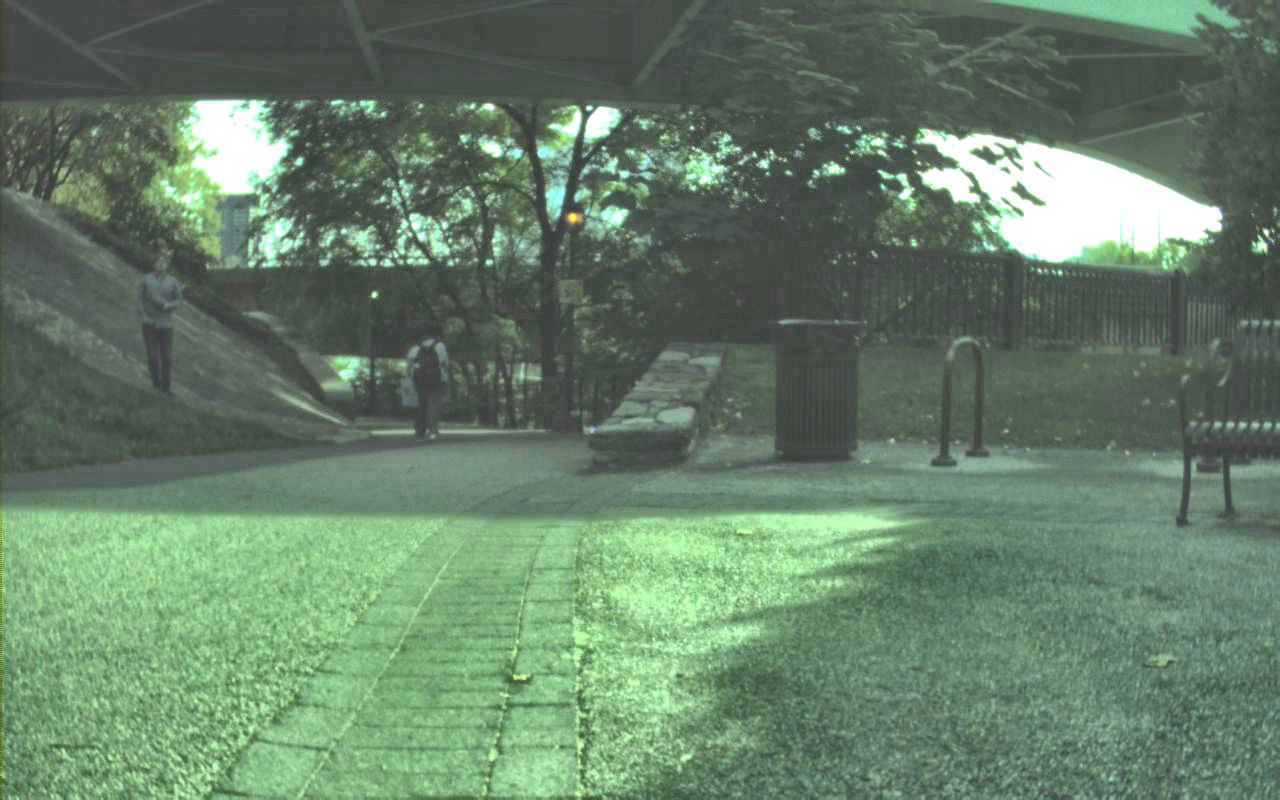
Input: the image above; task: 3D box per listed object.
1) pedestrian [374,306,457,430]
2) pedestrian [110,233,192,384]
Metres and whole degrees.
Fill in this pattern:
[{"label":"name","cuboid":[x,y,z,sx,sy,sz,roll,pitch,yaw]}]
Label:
[{"label":"pedestrian","cuboid":[-3.153,-0.439,17.435,0.877,1.671,0.902,0,0,-35]},{"label":"pedestrian","cuboid":[-6.246,-1.114,14.965,0.770,1.871,0.766,1,0,32]}]
